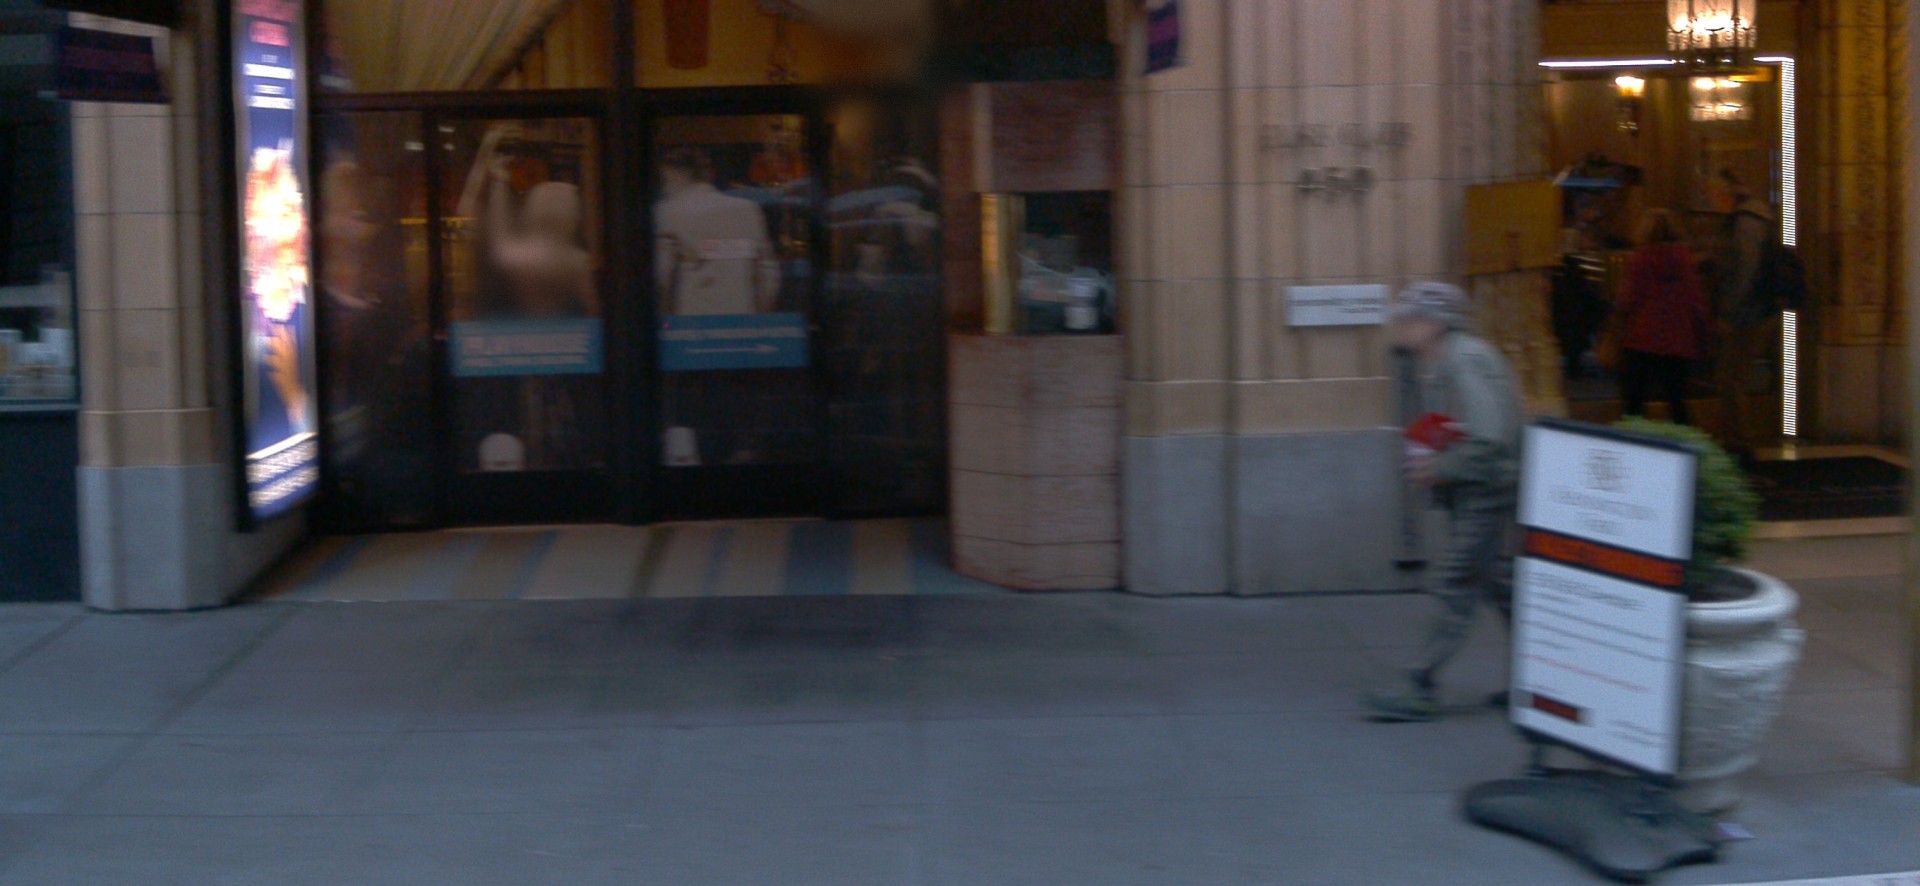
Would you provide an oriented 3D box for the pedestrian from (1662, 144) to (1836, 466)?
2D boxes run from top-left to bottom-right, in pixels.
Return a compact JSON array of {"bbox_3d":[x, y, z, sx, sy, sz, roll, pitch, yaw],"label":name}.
[{"bbox_3d":[4.520,-0.810,11.828,0.700,1.786,0.722,0,2,-2],"label":"pedestrian"}]

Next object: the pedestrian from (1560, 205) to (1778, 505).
[{"bbox_3d":[3.967,-0.530,11.572,0.823,1.606,0.880,-1,3,-12],"label":"pedestrian"}]

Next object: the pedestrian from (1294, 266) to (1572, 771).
[{"bbox_3d":[1.585,0.213,7.005,0.766,1.607,0.721,0,2,-2],"label":"pedestrian"}]
